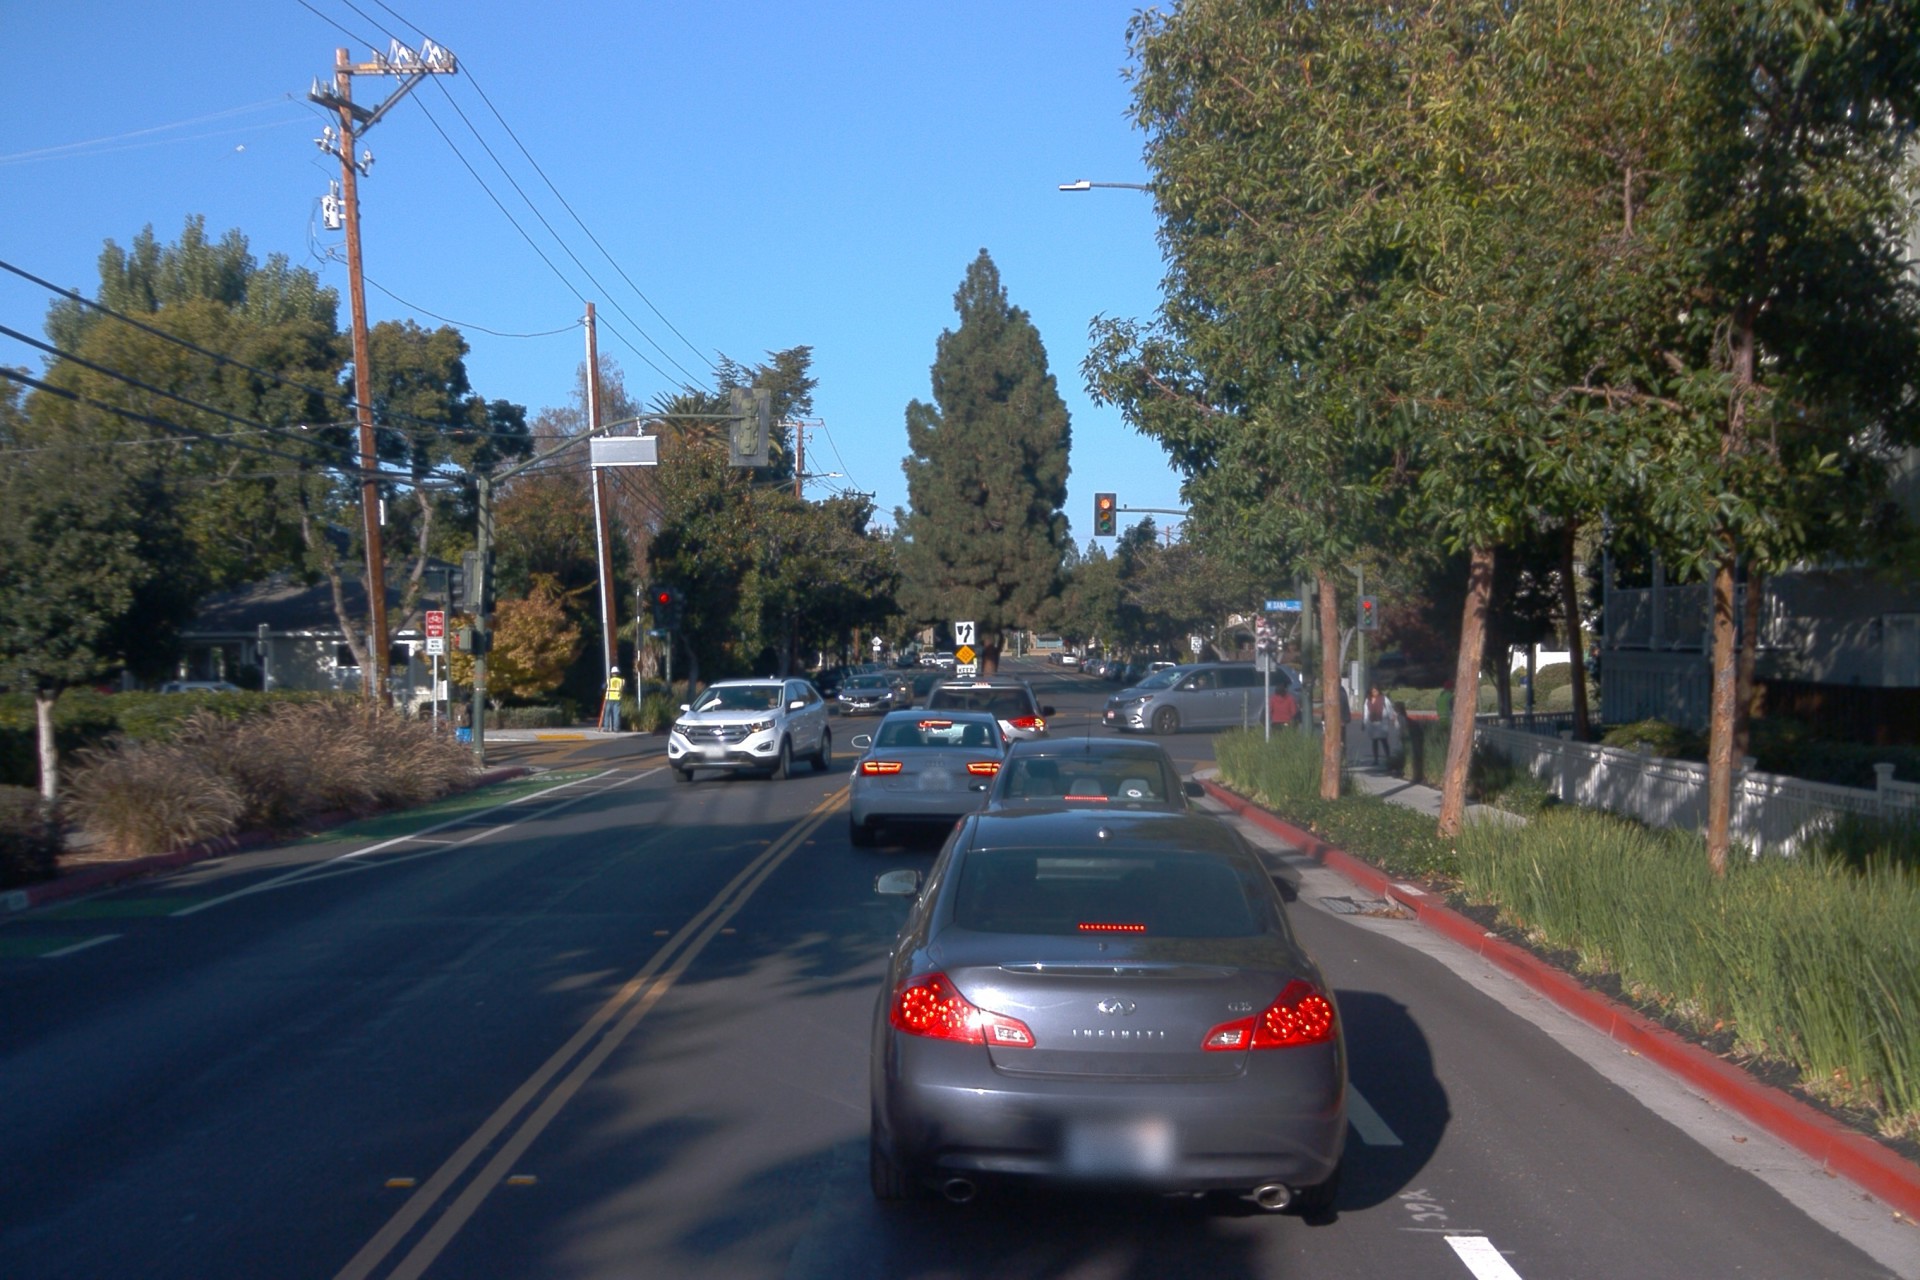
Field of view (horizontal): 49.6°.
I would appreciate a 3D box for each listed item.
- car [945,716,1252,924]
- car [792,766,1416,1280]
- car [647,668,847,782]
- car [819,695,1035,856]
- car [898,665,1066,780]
[{"bbox_3d":[0.991,1.272,15.846,2.028,1.210,4.035,1,0,2],"label":"car"},{"bbox_3d":[0.566,1.427,9.064,2.033,1.460,4.435,1,0,3],"label":"car"},{"bbox_3d":[-3.571,1.403,35.803,2.215,1.740,4.804,1,0,9],"label":"car"},{"bbox_3d":[-0.262,1.448,23.532,2.122,1.500,4.397,1,0,3],"label":"car"},{"bbox_3d":[0.354,1.177,31.289,2.317,1.510,4.744,1,0,1],"label":"car"}]
